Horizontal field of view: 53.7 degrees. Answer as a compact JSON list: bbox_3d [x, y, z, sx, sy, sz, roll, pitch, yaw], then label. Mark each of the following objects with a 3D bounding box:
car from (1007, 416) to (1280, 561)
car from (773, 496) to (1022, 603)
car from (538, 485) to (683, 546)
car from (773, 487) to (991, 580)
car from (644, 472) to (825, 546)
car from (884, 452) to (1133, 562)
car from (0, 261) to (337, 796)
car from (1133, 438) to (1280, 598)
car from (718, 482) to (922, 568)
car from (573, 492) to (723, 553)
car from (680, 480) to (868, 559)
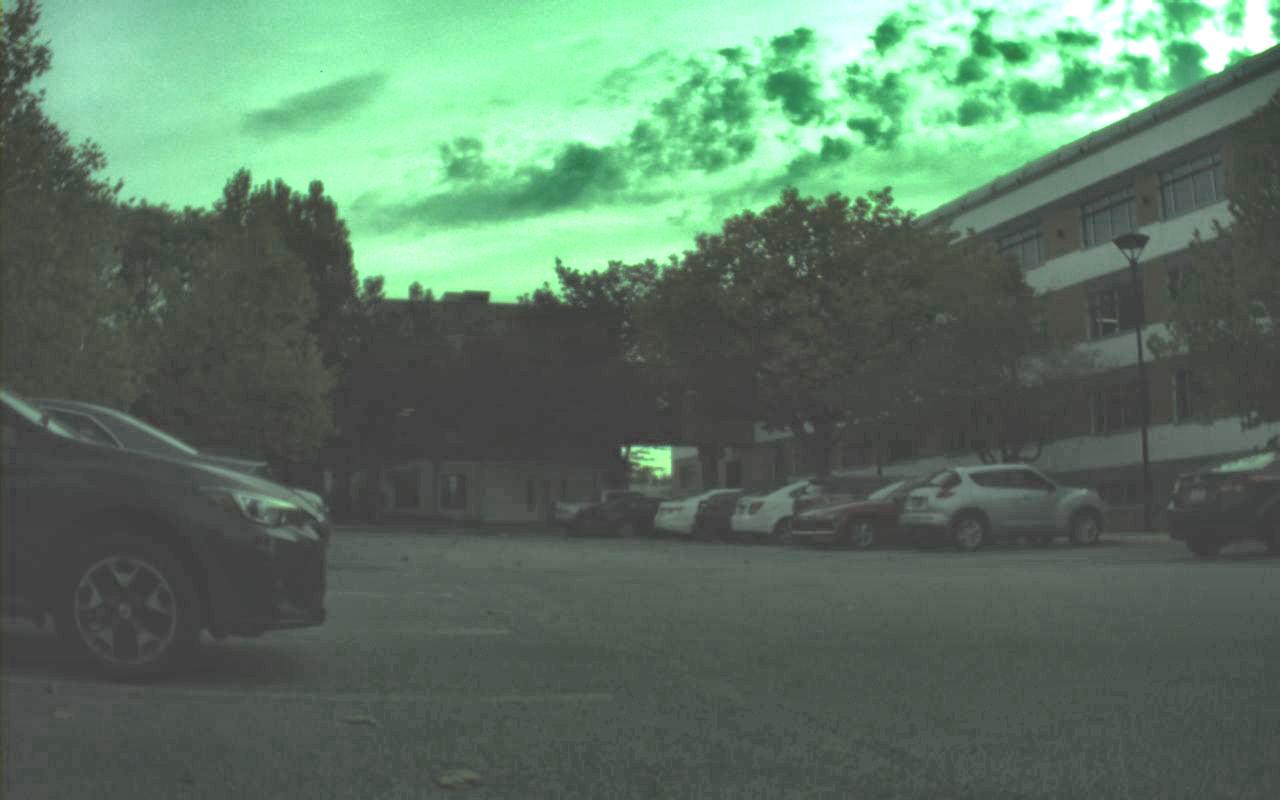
[{"bbox_3d":[18.412,2.809,41.078,3.018,3.708,16.373,0,1,-17],"label":"car"},{"bbox_3d":[5.106,2.911,24.402,4.566,1.652,1.966,0,1,-14],"label":"car"},{"bbox_3d":[-1.110,4.278,46.653,5.019,1.917,2.094,0,1,-18],"label":"car"},{"bbox_3d":[5.328,2.900,27.242,4.414,1.628,1.946,0,1,-15],"label":"car"},{"bbox_3d":[2.564,2.955,34.434,4.596,1.726,1.990,0,1,-12],"label":"car"},{"bbox_3d":[6.759,1.901,22.177,4.306,1.649,1.890,0,1,-14],"label":"car"},{"bbox_3d":[-3.726,0.359,5.495,4.553,1.657,2.017,0,1,-14],"label":"car"},{"bbox_3d":[8.771,1.495,14.704,4.578,1.637,1.965,0,1,-17],"label":"car"},{"bbox_3d":[4.280,2.938,29.752,4.470,1.687,1.950,0,1,-13],"label":"car"},{"bbox_3d":[0.256,4.044,41.812,4.599,1.601,1.956,0,1,-25],"label":"car"},{"bbox_3d":[3.424,3.031,32.104,4.425,1.655,1.947,0,1,-15],"label":"car"}]
